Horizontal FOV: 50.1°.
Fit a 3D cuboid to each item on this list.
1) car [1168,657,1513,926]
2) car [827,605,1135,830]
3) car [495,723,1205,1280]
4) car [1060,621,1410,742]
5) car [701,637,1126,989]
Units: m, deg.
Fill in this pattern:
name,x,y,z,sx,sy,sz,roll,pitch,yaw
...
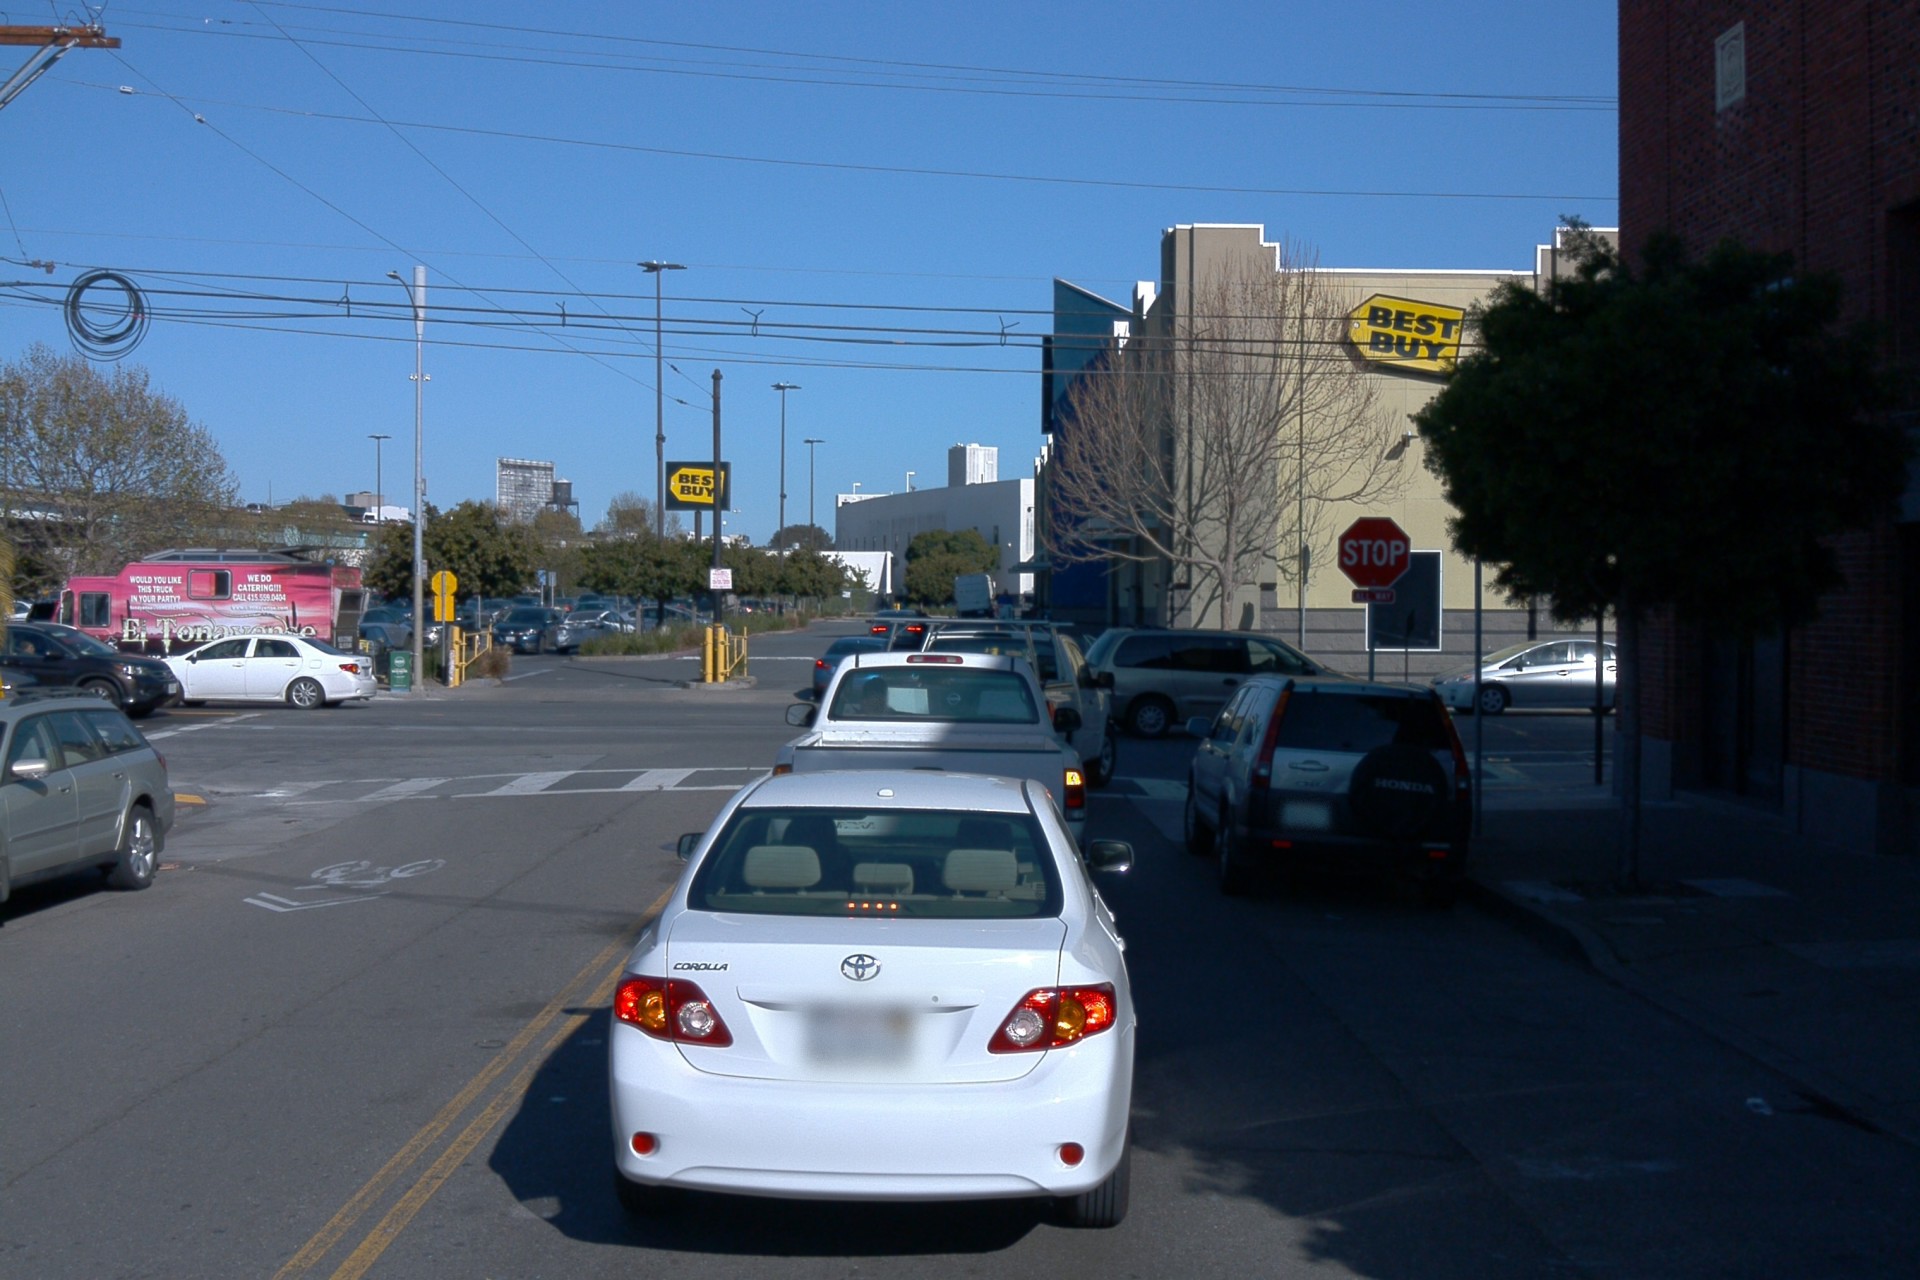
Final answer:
name,x,y,z,sx,sy,sz,roll,pitch,yaw
car,2.861,1.068,16.454,2.017,1.730,4.285,1,1,1
car,0.421,0.713,22.892,2.387,2.140,5.554,1,1,11
car,-0.277,1.267,8.240,2.045,1.580,4.504,1,1,1
car,4.320,0.637,32.798,5.166,1.770,2.031,1,1,-5
car,-0.246,0.978,14.465,2.386,1.880,5.557,1,1,0
